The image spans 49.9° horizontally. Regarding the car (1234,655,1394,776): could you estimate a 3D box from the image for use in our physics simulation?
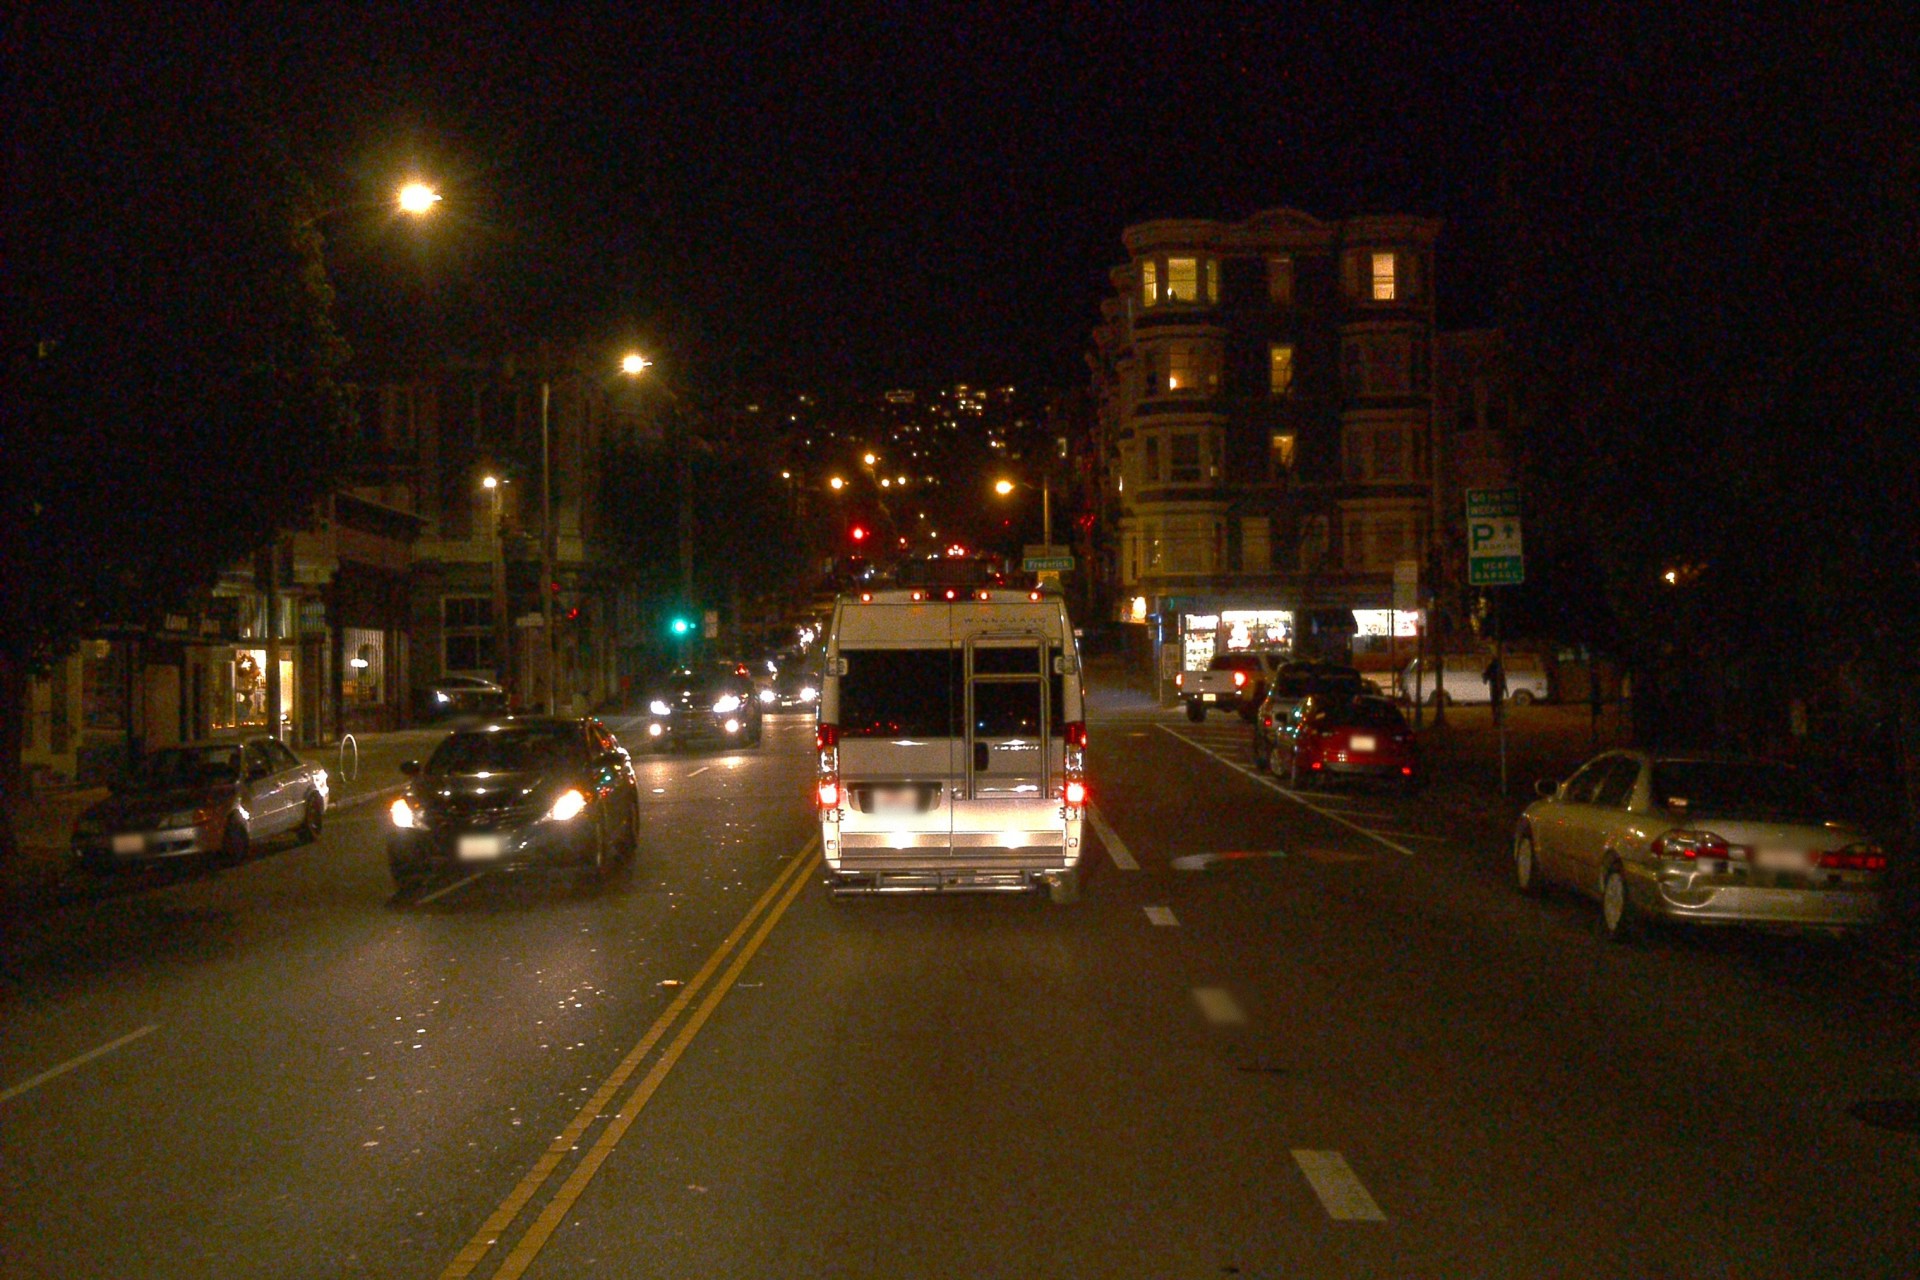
[{"bbox_3d":[6.128,1.262,36.278,2.490,1.930,4.601,0,0,6],"label":"car"}]

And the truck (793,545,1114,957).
[{"bbox_3d":[-0.027,0.799,17.607,2.338,3.000,5.110,0,0,1],"label":"truck"}]

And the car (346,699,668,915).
[{"bbox_3d":[-4.135,1.471,19.698,2.219,1.660,4.679,0,0,-2],"label":"car"}]

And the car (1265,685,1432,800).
[{"bbox_3d":[5.777,1.482,31.180,1.963,1.500,4.260,0,0,3],"label":"car"}]

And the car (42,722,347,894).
[{"bbox_3d":[-8.665,1.849,23.818,1.850,1.600,4.445,0,0,0],"label":"car"}]

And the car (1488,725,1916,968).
[{"bbox_3d":[5.620,1.493,16.316,1.867,1.430,4.637,0,0,2],"label":"car"}]
